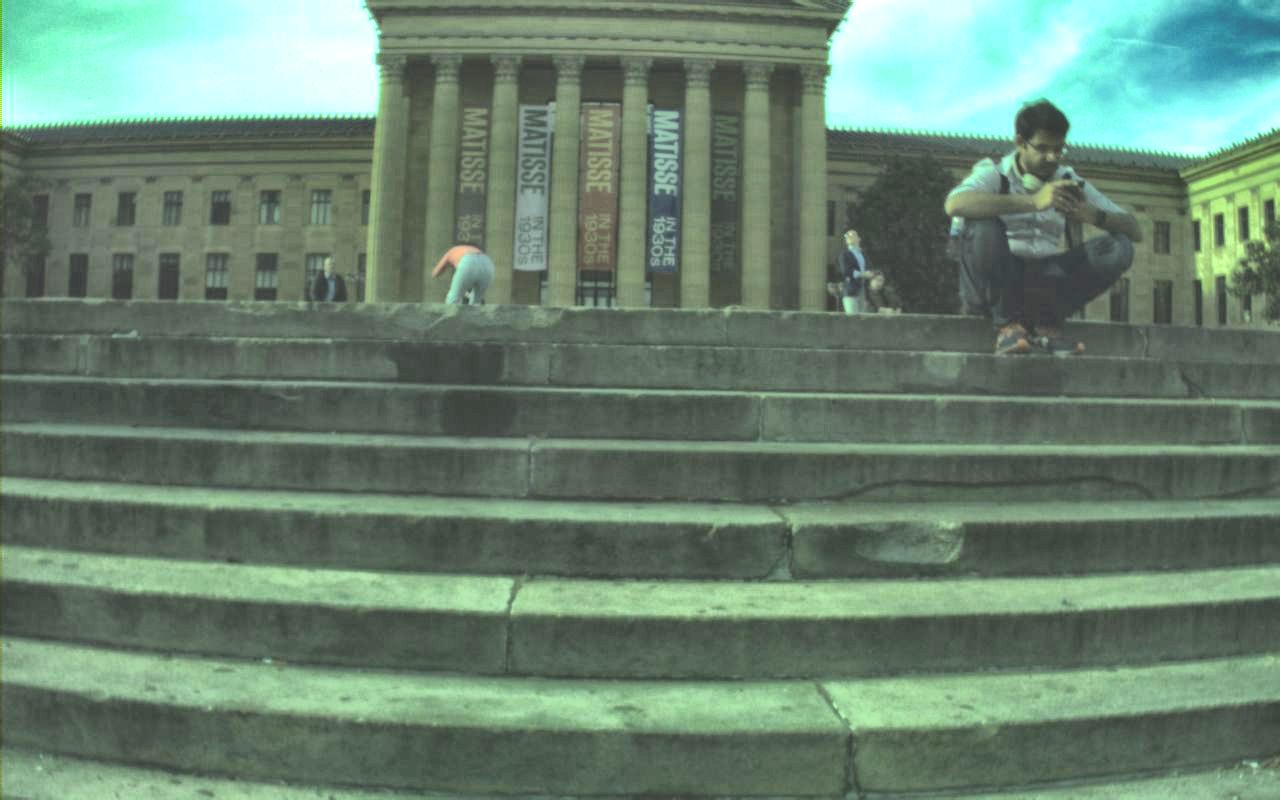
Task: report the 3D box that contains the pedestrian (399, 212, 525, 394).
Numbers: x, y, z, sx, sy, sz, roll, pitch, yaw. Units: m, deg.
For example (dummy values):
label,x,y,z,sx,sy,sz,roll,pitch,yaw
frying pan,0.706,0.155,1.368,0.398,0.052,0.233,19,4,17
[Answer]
label,x,y,z,sx,sy,sz,roll,pitch,yaw
pedestrian,-1.752,-0.922,12.271,0.889,1.705,0.850,1,0,36

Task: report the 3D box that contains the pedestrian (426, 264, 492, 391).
label,x,y,z,sx,sy,sz,roll,pitch,yaw
pedestrian,-2.429,-0.962,16.842,0.855,1.657,0.834,0,0,-8

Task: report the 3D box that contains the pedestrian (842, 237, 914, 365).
label,x,y,z,sx,sy,sz,roll,pitch,yaw
pedestrian,3.266,-1.333,17.099,0.710,1.701,0.696,0,0,-41

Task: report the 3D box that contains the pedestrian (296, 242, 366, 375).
label,x,y,z,sx,sy,sz,roll,pitch,yaw
pedestrian,-4.191,-1.210,16.609,0.796,1.749,0.772,0,0,-26

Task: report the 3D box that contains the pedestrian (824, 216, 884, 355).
label,x,y,z,sx,sy,sz,roll,pitch,yaw
pedestrian,2.754,-1.460,16.150,0.763,1.754,0.772,0,0,8
